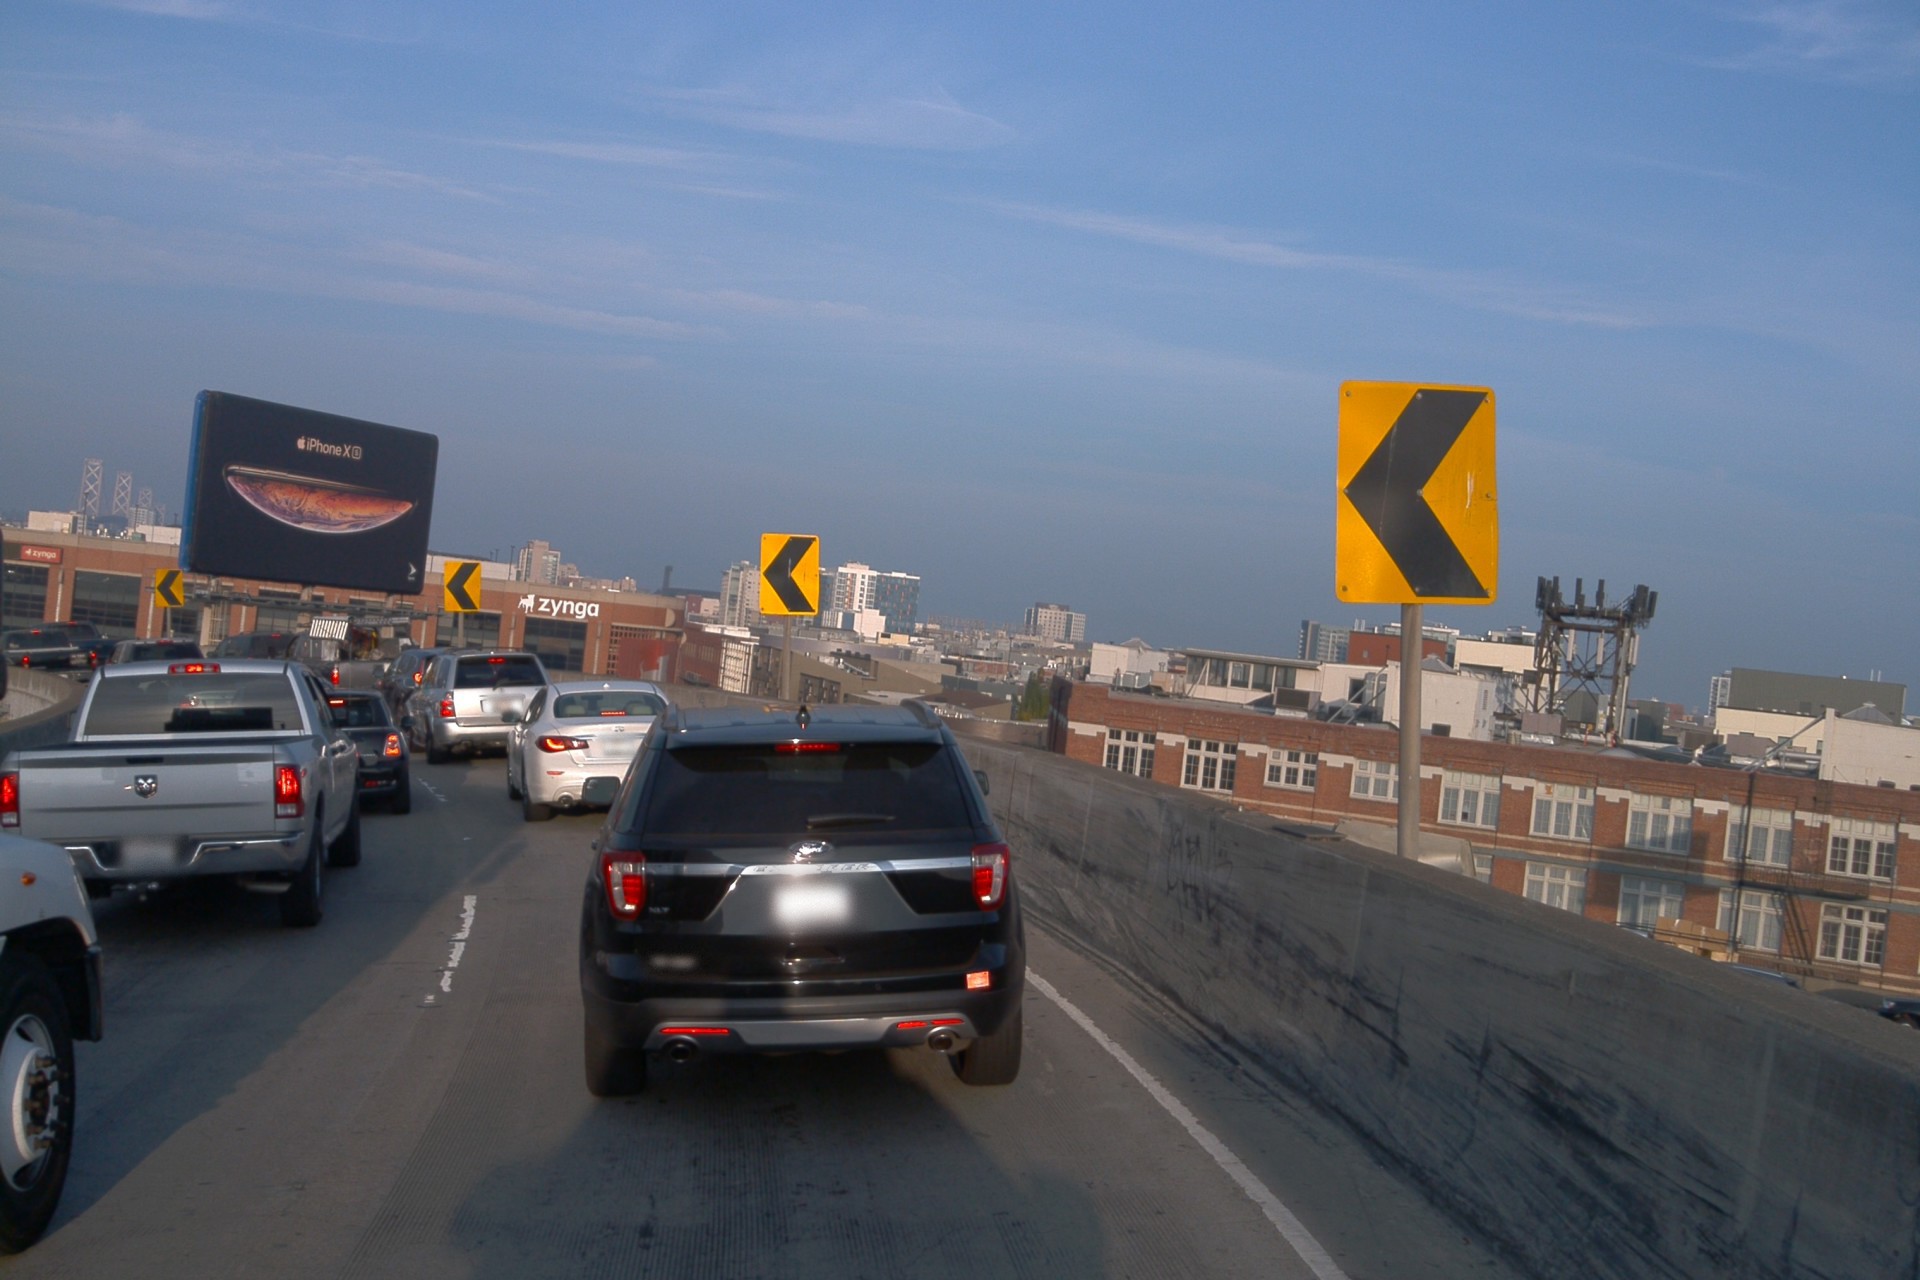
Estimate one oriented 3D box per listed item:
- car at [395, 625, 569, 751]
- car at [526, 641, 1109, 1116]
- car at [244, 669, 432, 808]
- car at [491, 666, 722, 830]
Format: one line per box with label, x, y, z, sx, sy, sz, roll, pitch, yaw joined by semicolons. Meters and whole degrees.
car;-7.570;0.690;32.217;1.992;1.820;4.394;0;0;-22
car;-0.845;0.942;10.662;2.327;1.850;4.877;0;0;-7
car;-7.266;1.082;24.208;1.934;1.411;4.084;0;0;-15
car;-4.132;1.135;23.375;2.144;1.590;4.509;0;0;-16
